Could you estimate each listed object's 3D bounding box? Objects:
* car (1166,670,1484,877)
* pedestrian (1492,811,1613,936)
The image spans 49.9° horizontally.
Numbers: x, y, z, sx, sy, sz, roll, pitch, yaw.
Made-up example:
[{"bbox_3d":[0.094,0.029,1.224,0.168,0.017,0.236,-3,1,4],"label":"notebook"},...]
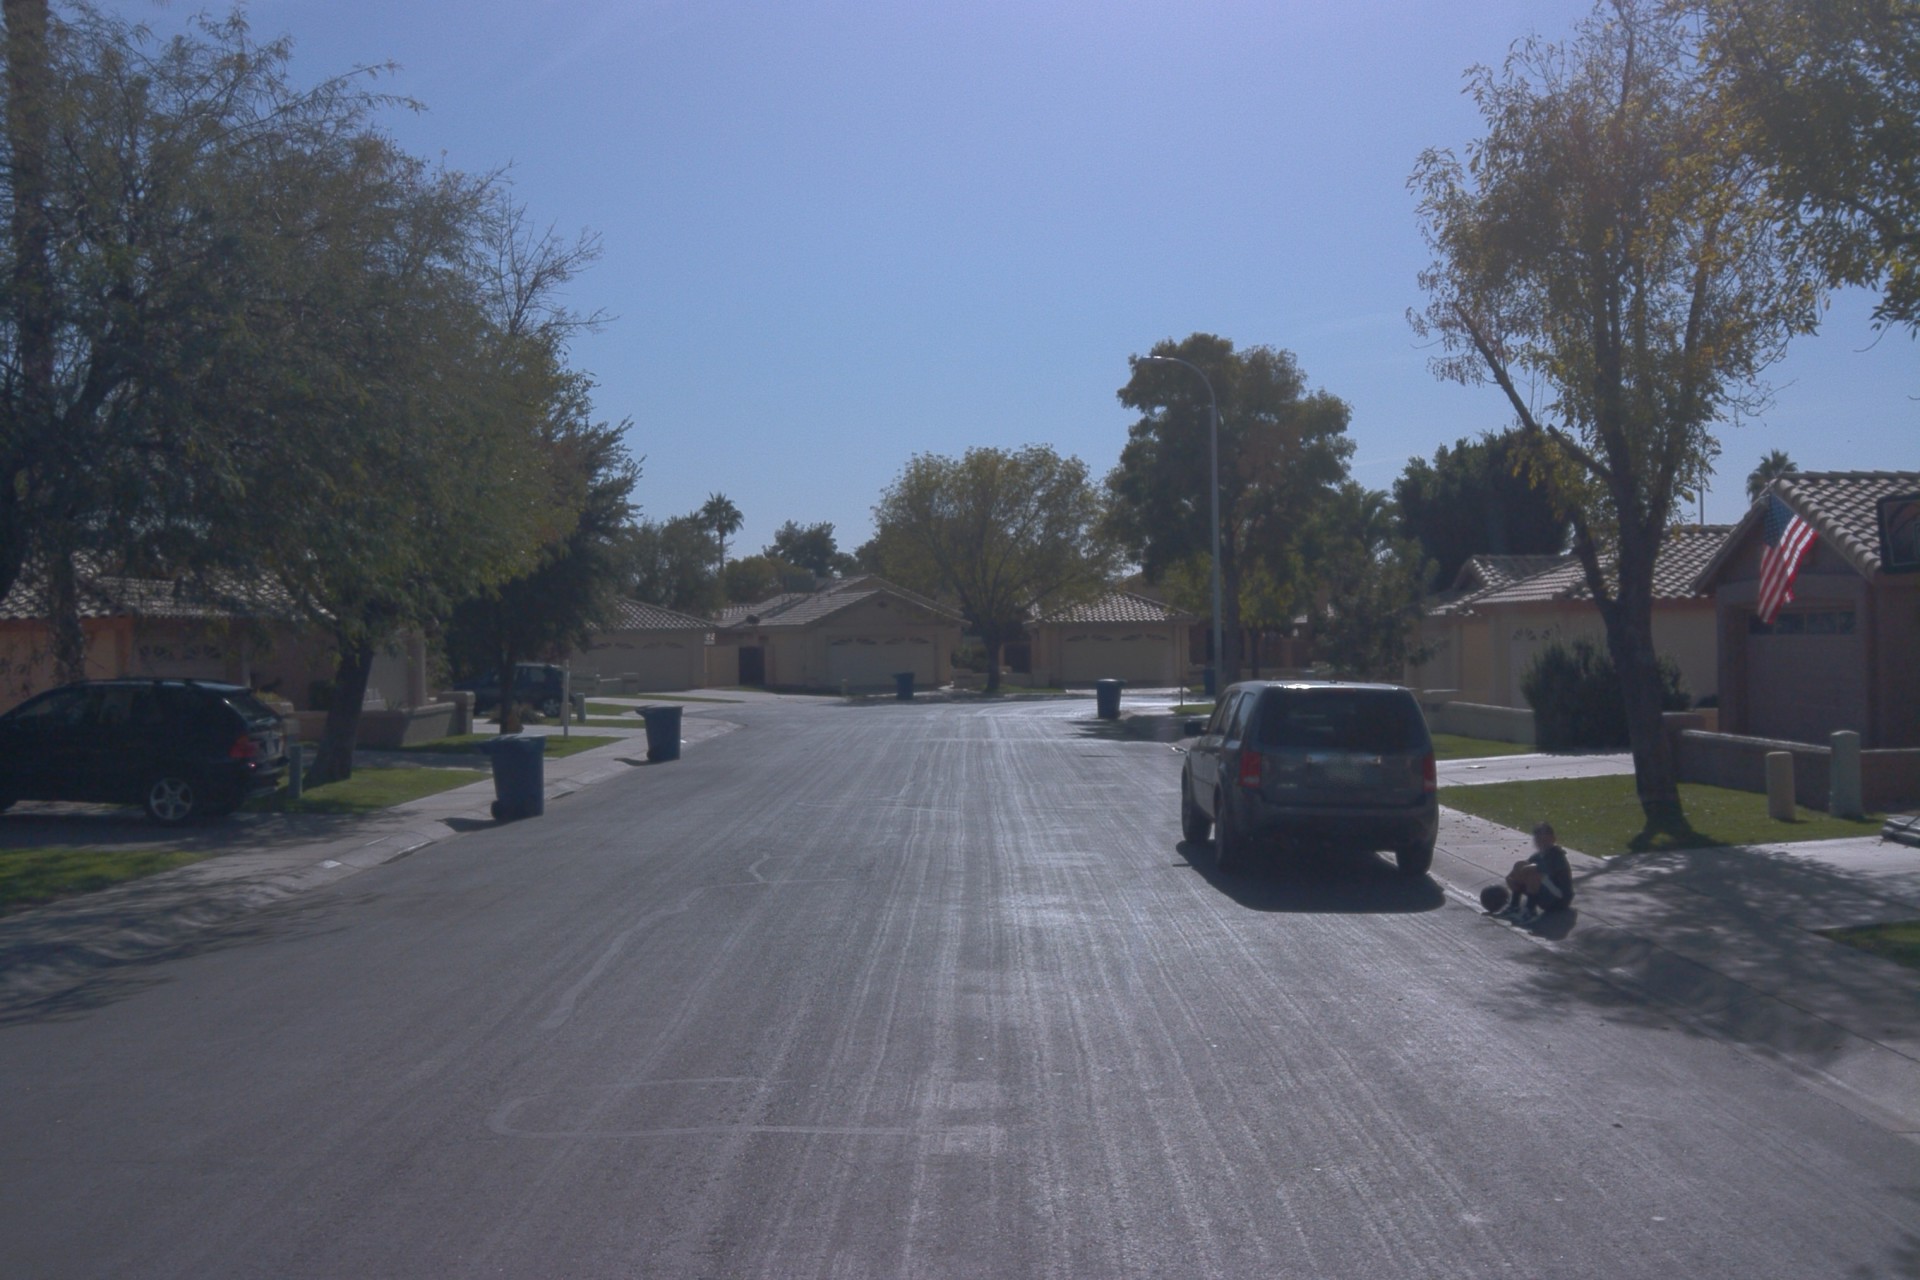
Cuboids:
[{"bbox_3d":[3.448,1.204,20.533,2.268,1.780,4.879,0,0,0],"label":"car"},{"bbox_3d":[4.576,1.793,15.970,0.705,0.880,0.828,0,0,1],"label":"pedestrian"}]
